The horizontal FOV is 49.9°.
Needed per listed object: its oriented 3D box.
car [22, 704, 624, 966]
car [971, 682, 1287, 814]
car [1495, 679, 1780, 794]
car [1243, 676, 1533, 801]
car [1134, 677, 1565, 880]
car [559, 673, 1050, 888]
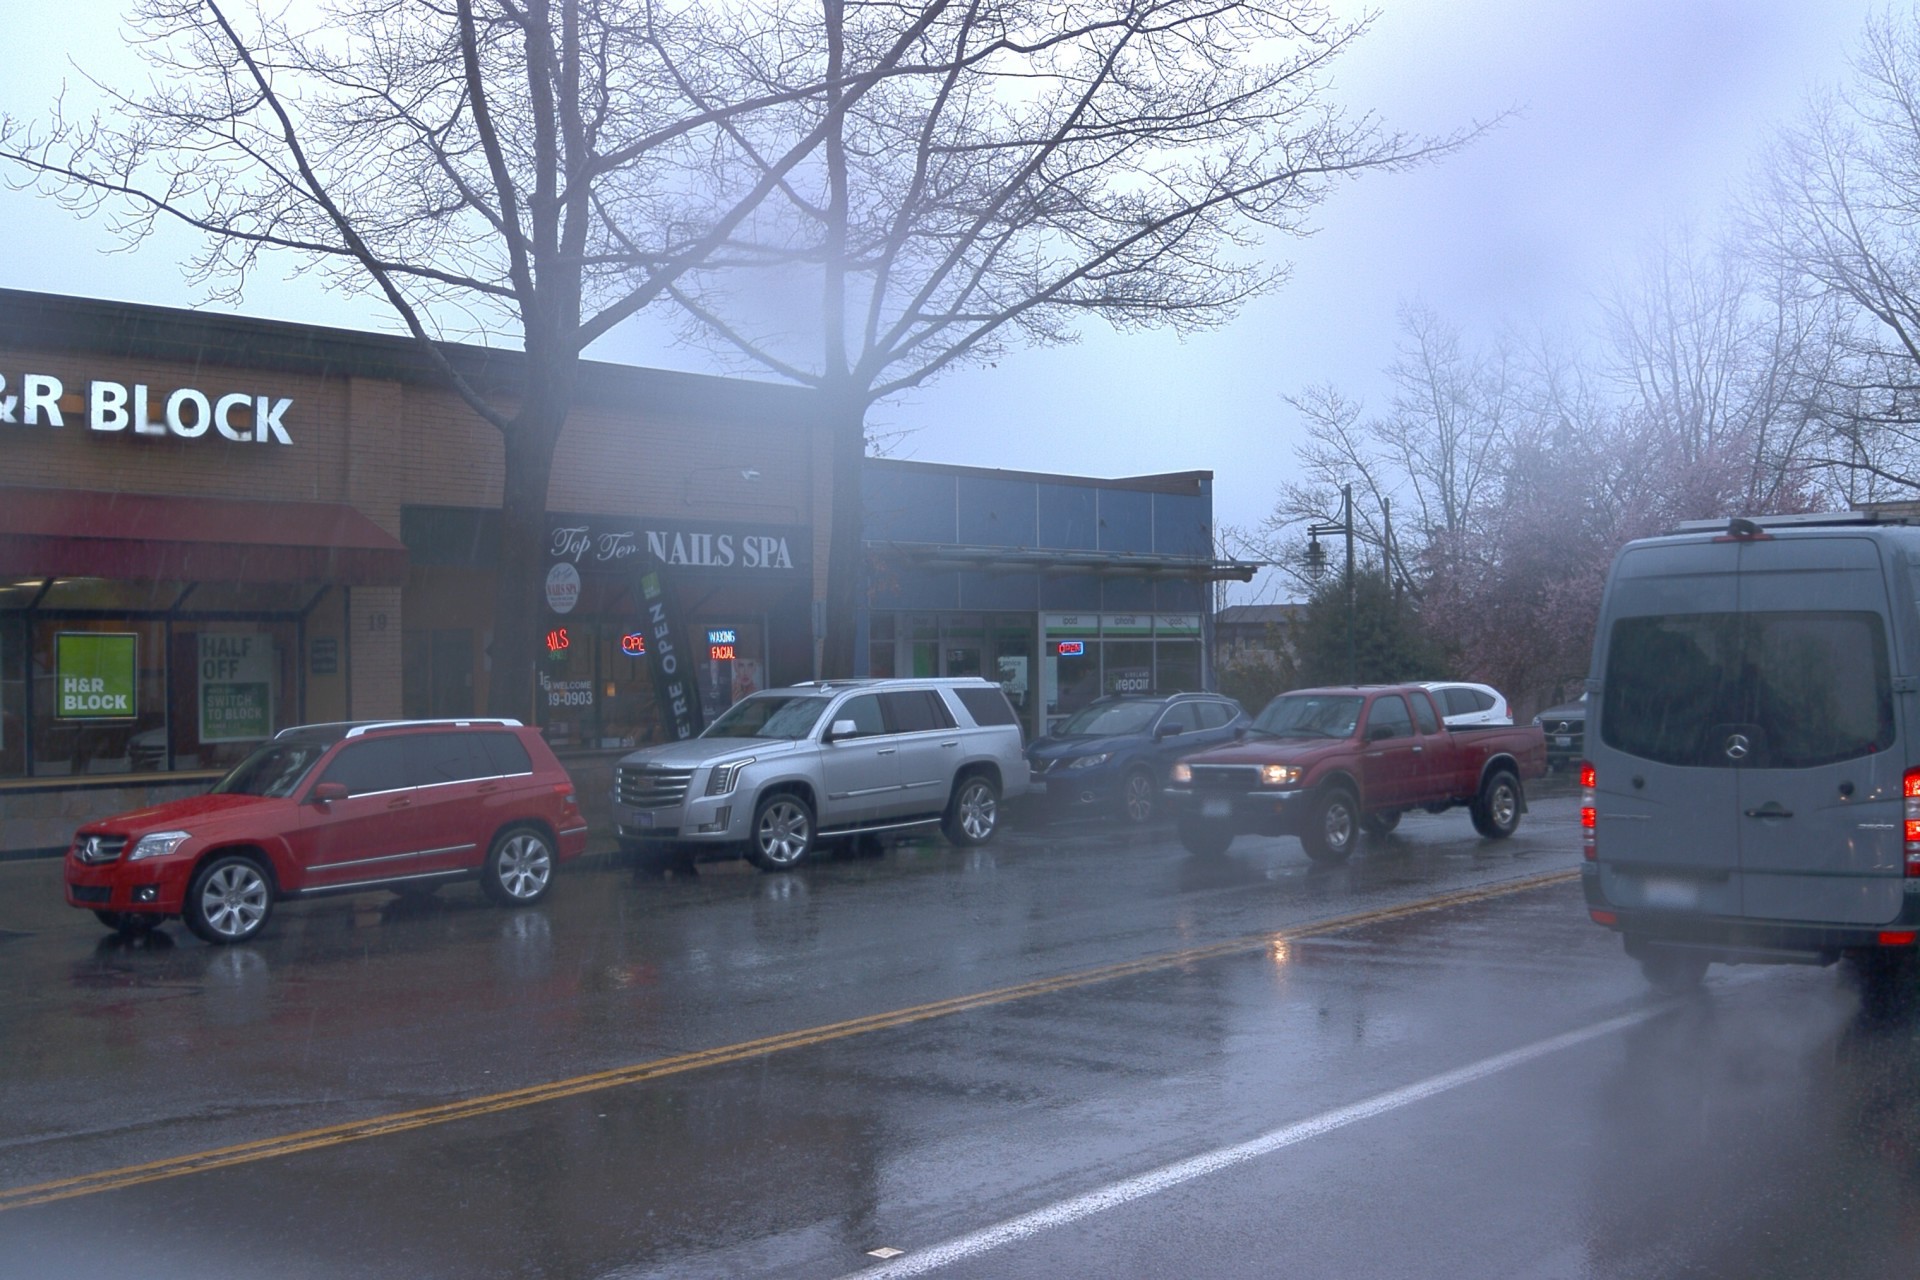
[{"bbox_3d":[-5.340,1.532,17.819,2.014,1.750,4.583,1,1,41],"label":"car"},{"bbox_3d":[2.277,1.330,26.815,1.999,1.400,4.335,1,1,39],"label":"car"},{"bbox_3d":[11.826,1.605,35.852,5.296,1.690,2.144,-1,1,-39],"label":"car"},{"bbox_3d":[6.535,1.418,31.252,4.481,1.610,2.181,-1,1,-45],"label":"car"},{"bbox_3d":[4.262,1.350,21.960,1.929,1.750,5.184,1,1,45],"label":"car"},{"bbox_3d":[-1.551,1.389,22.472,2.331,1.890,5.194,1,1,41],"label":"car"}]
